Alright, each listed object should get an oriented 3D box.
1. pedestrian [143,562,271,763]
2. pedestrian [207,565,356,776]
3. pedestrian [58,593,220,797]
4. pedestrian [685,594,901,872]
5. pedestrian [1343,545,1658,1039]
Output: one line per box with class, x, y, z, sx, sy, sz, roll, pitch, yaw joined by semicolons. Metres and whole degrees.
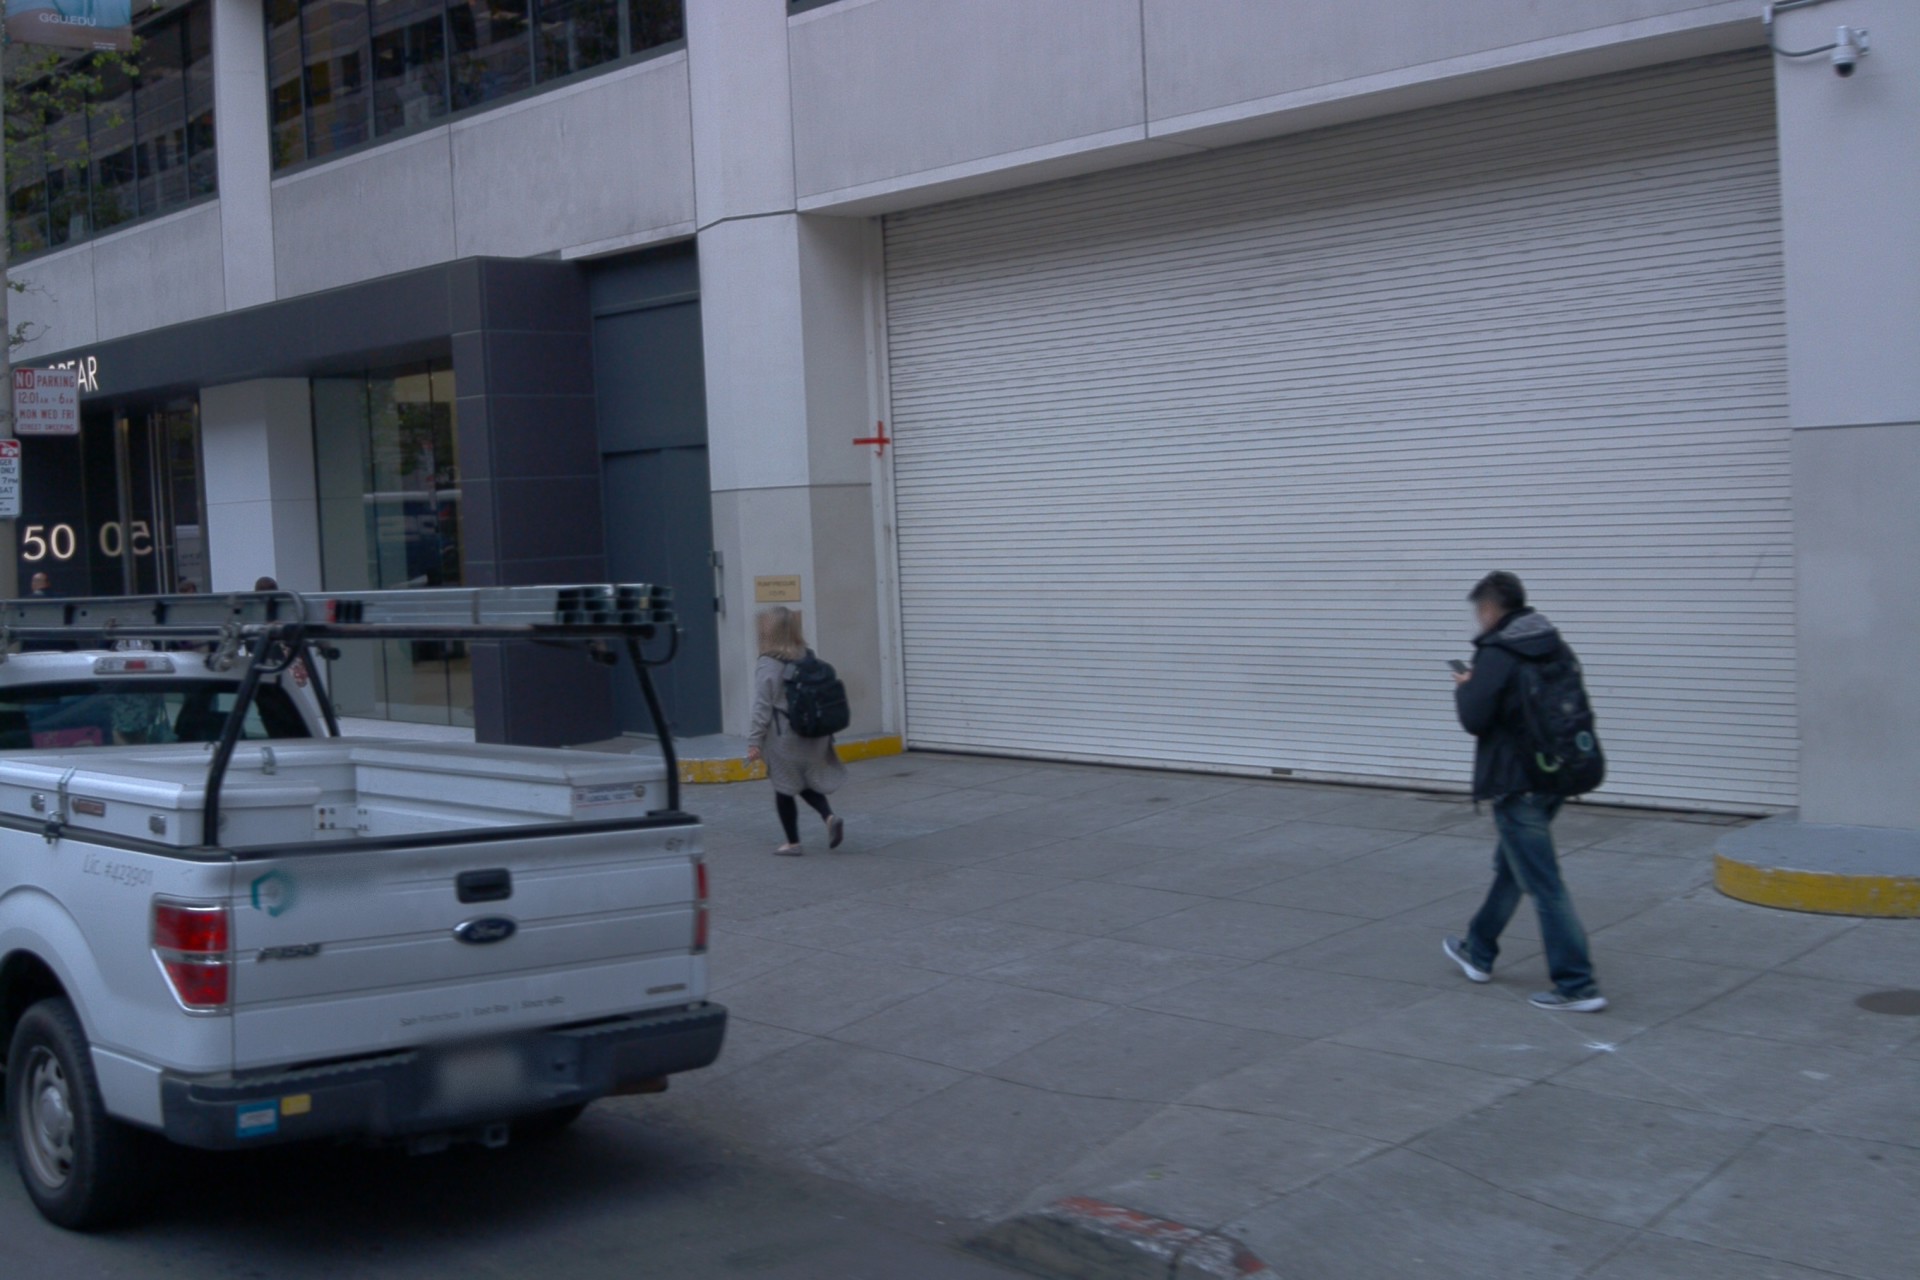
pedestrian;-7.059;0.199;19.273;0.828;1.826;0.918;0;0;-44
pedestrian;-5.894;0.249;17.849;0.939;1.770;0.919;0;0;-41
pedestrian;-7.038;0.447;17.613;0.994;1.680;1.006;0;0;-42
pedestrian;-1.018;0.527;12.480;0.882;1.600;0.985;0;0;-43
pedestrian;2.152;0.557;8.217;0.736;1.830;0.968;0;0;-41
